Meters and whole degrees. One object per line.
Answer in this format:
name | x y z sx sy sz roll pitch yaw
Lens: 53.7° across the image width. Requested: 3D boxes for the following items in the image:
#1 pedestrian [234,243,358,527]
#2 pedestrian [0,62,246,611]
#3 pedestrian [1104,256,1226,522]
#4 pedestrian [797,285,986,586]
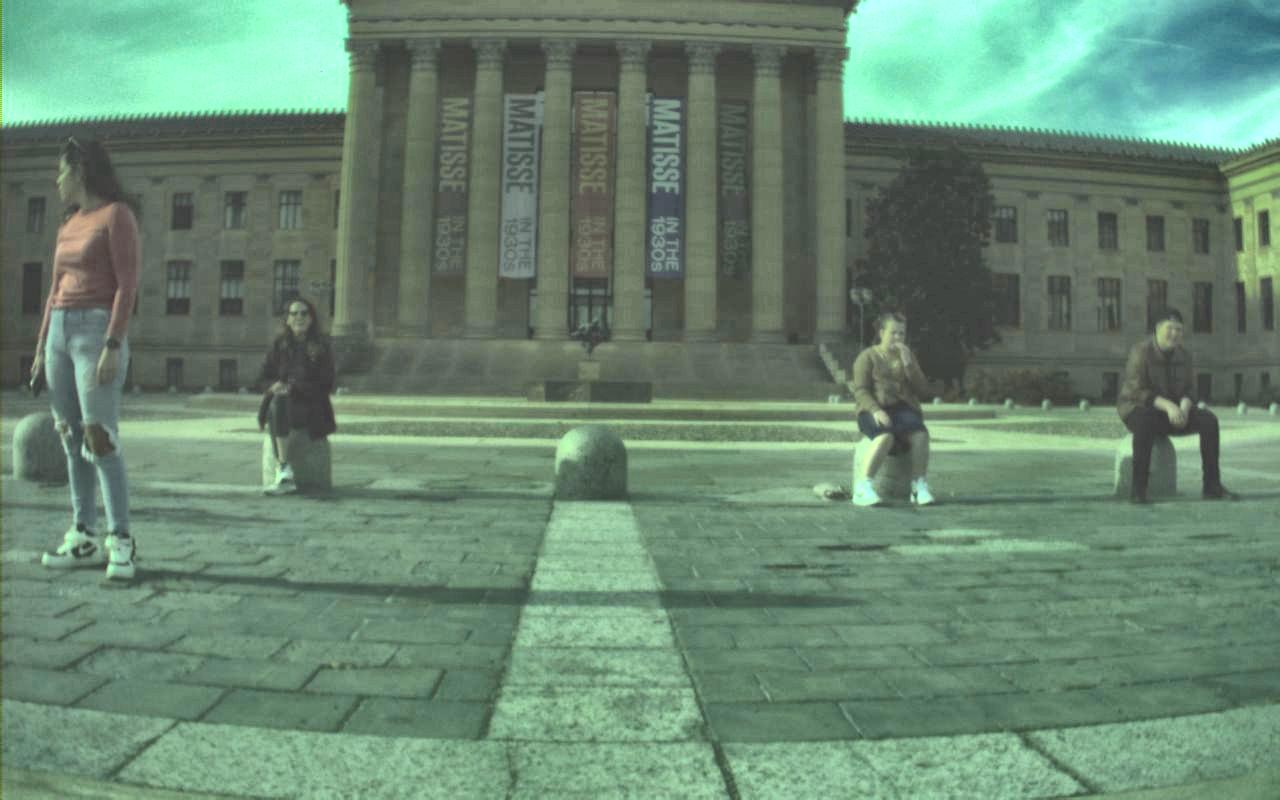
pedestrian | -2.175 -0.092 7.724 0.768 1.718 0.767 0 0 -13
pedestrian | -1.992 -0.212 4.175 0.780 1.787 0.797 1 0 26
pedestrian | 3.511 -0.062 7.853 0.747 1.702 0.771 0 0 15
pedestrian | 1.609 0.203 7.908 0.858 1.786 0.858 0 0 -42
